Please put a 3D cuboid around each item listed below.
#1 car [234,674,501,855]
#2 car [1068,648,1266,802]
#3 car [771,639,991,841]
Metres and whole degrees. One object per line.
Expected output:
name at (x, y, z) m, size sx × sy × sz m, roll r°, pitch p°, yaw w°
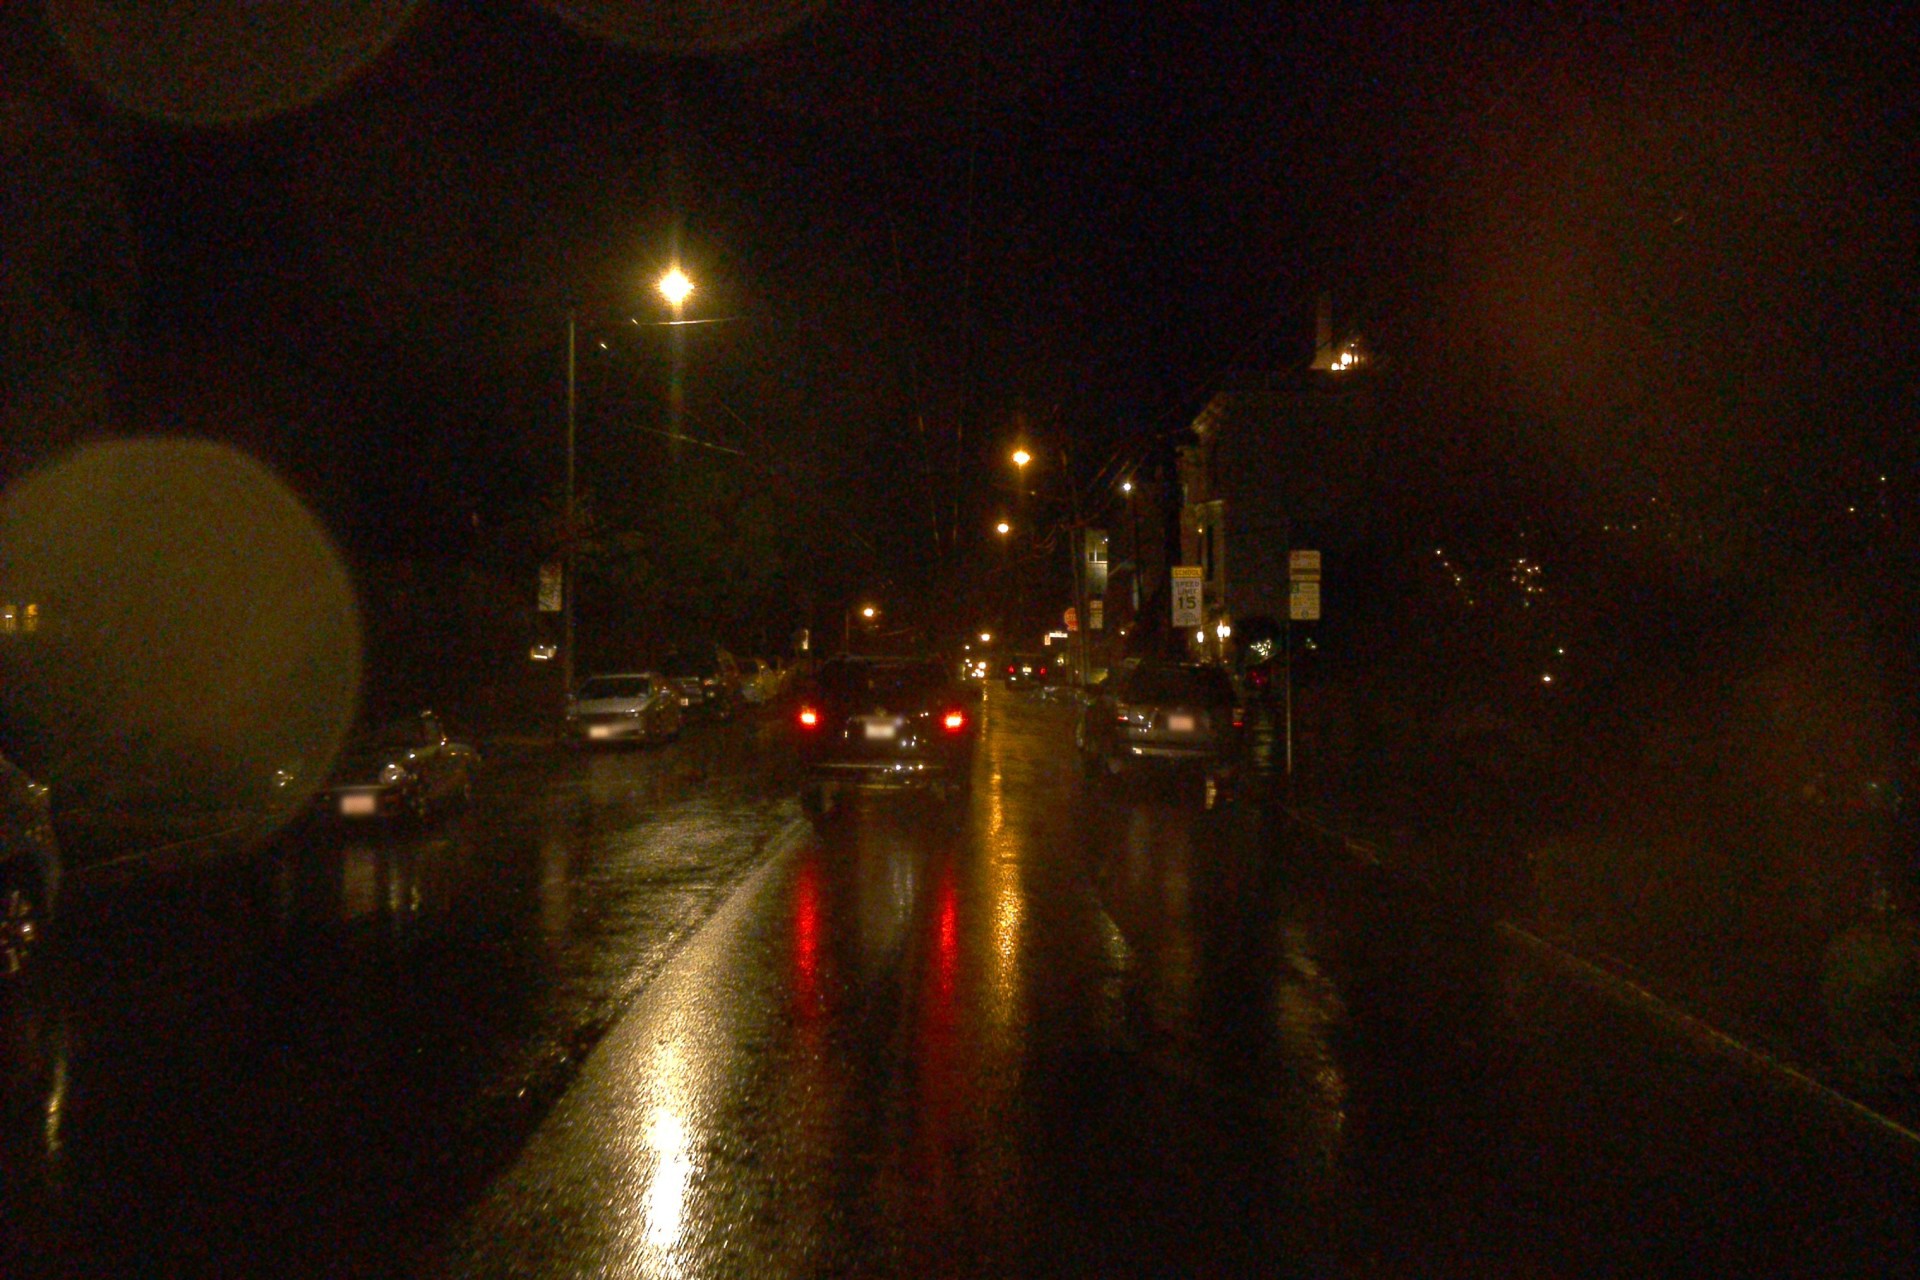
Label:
car at (-6.647, 1.333, 23.577) m, size 1.837 × 1.710 × 4.399 m, roll 1°, pitch 1°, yaw -1°
car at (2.923, 1.152, 30.163) m, size 2.202 × 1.930 × 5.045 m, roll 1°, pitch 1°, yaw -2°
car at (-0.806, 1.063, 24.295) m, size 2.267 × 2.040 × 4.792 m, roll 1°, pitch 1°, yaw 1°
